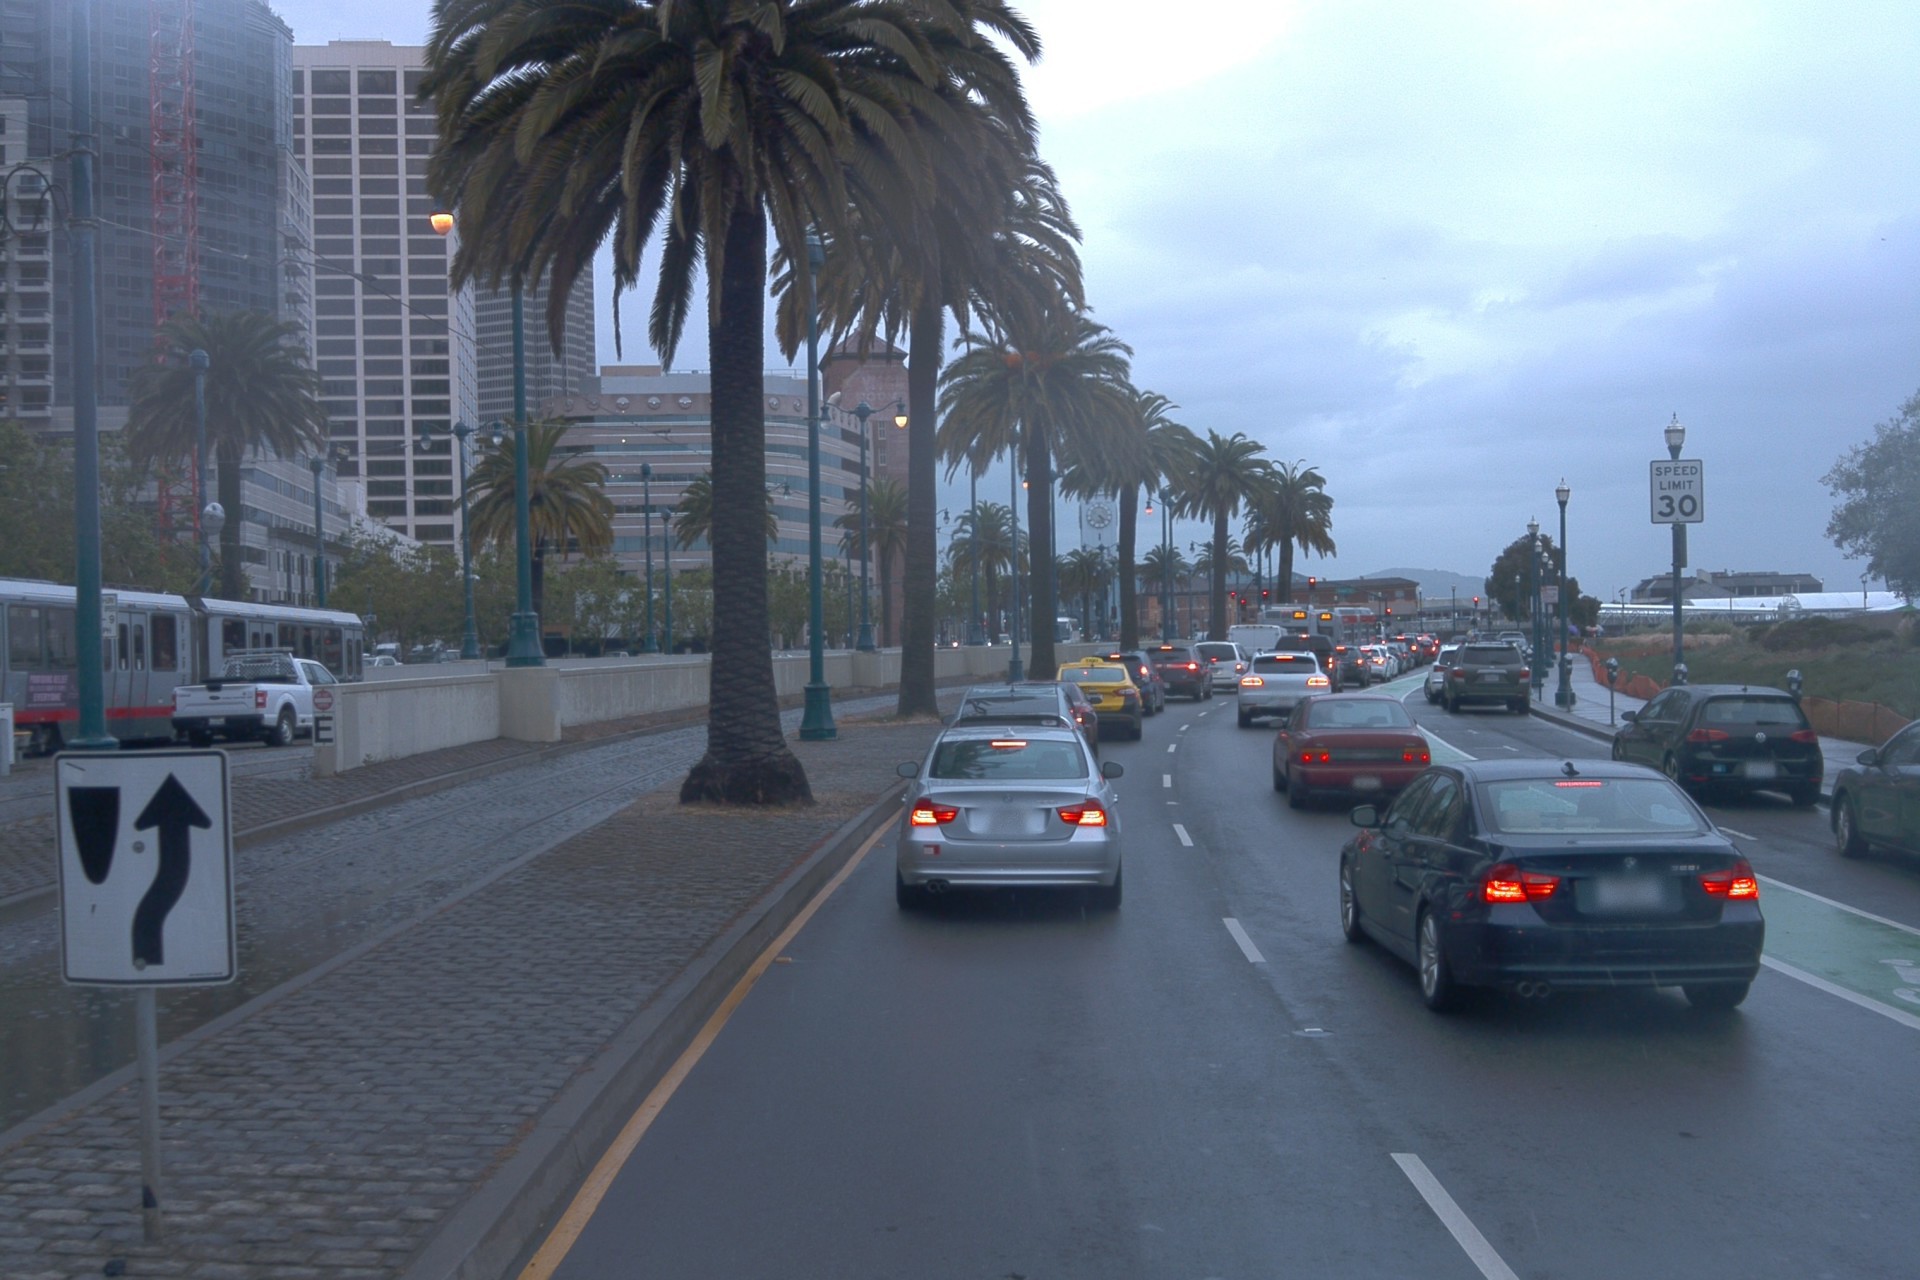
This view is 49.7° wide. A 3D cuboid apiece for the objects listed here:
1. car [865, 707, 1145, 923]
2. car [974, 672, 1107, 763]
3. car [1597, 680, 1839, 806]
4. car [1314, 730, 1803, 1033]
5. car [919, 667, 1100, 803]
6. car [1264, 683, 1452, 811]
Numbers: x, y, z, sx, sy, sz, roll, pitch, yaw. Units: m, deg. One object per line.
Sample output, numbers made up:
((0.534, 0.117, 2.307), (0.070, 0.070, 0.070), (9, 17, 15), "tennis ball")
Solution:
((0.437, 1.372, 17.655), (2.067, 1.510, 4.626), (0, -1, 3), "car")
((1.440, 1.264, 35.211), (2.067, 1.430, 4.626), (0, -1, 4), "car")
((9.601, 1.259, 26.586), (1.884, 1.470, 4.052), (0, -1, 4), "car")
((3.496, 1.358, 13.012), (1.869, 1.450, 4.344), (0, -1, 1), "car")
((0.733, 1.144, 26.547), (2.067, 1.580, 4.626), (0, -1, 4), "car")
((4.889, 1.282, 25.973), (1.923, 1.450, 3.944), (0, -1, 5), "car")
